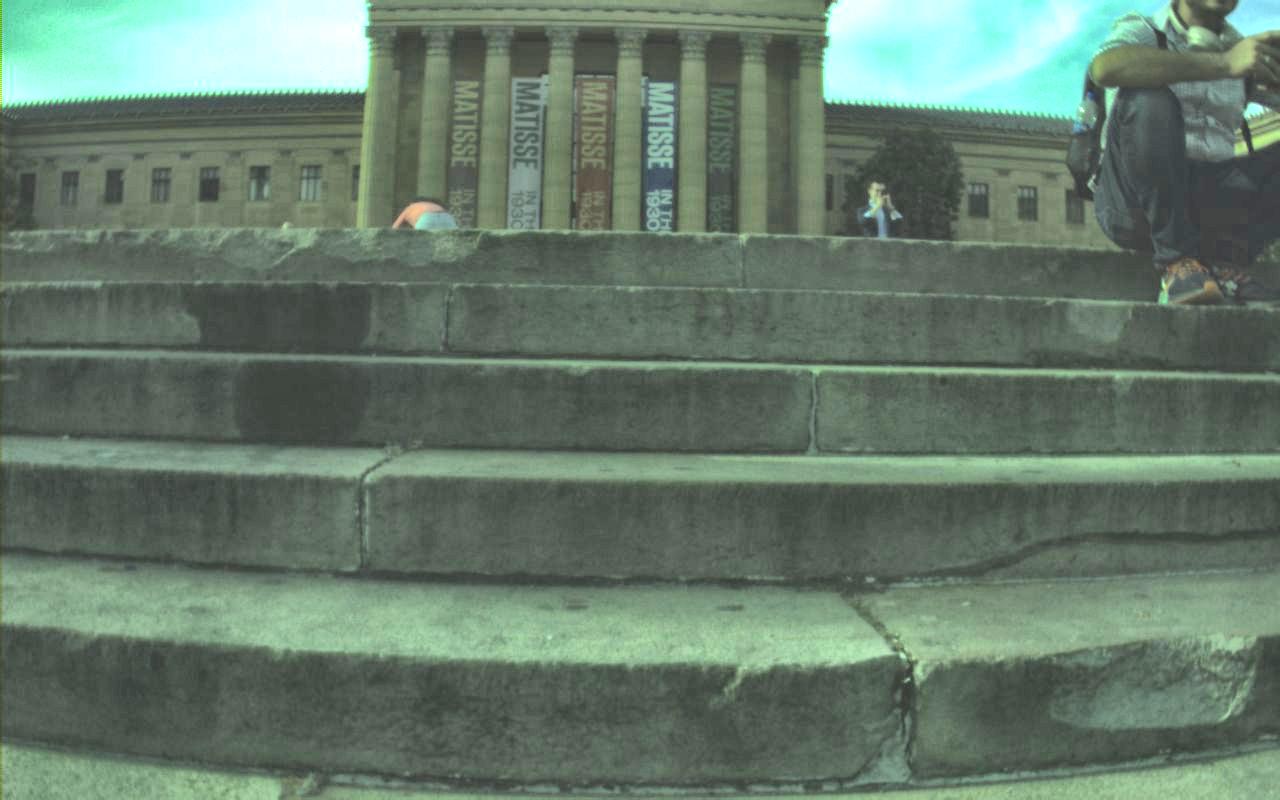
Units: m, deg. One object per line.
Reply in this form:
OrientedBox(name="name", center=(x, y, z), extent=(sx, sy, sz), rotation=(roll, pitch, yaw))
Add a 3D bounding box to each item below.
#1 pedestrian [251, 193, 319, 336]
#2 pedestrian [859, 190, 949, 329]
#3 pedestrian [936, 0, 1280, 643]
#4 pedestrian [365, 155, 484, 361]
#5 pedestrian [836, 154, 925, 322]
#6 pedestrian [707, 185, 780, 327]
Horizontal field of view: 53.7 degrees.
OrientedBox(name="pedestrian", center=(-4.364, -1.633, 14.946), extent=(0.772, 1.708, 0.771), rotation=(0, 0, -14))
OrientedBox(name="pedestrian", center=(3.241, -1.689, 15.229), extent=(0.783, 1.619, 0.783), rotation=(0, 0, -37))
OrientedBox(name="pedestrian", center=(1.243, -0.425, 2.638), extent=(0.826, 1.727, 0.912), rotation=(0, 0, -9))
OrientedBox(name="pedestrian", center=(-1.820, -1.174, 10.573), extent=(0.853, 1.692, 0.824), rotation=(0, 0, 1))
OrientedBox(name="pedestrian", center=(2.656, -1.767, 13.763), extent=(0.771, 1.778, 0.757), rotation=(0, 0, -9))
OrientedBox(name="pedestrian", center=(1.262, -1.721, 15.201), extent=(0.743, 1.655, 0.743), rotation=(1, 0, 17))
